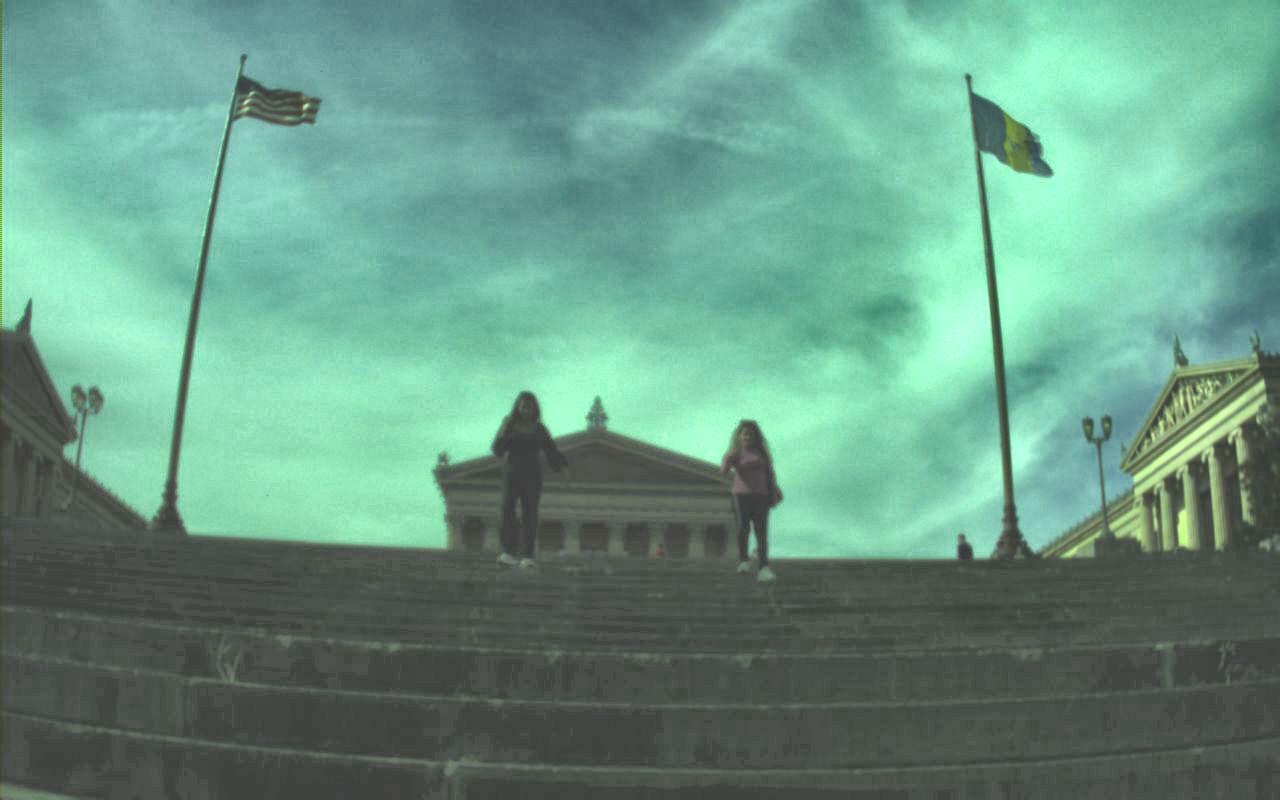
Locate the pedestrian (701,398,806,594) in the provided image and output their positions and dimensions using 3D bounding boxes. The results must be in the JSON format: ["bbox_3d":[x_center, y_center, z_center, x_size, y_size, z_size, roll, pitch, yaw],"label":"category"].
[{"bbox_3d":[1.025,0.850,11.493,0.785,1.717,0.819,0,0,-7],"label":"pedestrian"}]

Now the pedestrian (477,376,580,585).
[{"bbox_3d":[-1.039,0.714,11.516,0.798,1.847,0.811,0,0,-17],"label":"pedestrian"}]
